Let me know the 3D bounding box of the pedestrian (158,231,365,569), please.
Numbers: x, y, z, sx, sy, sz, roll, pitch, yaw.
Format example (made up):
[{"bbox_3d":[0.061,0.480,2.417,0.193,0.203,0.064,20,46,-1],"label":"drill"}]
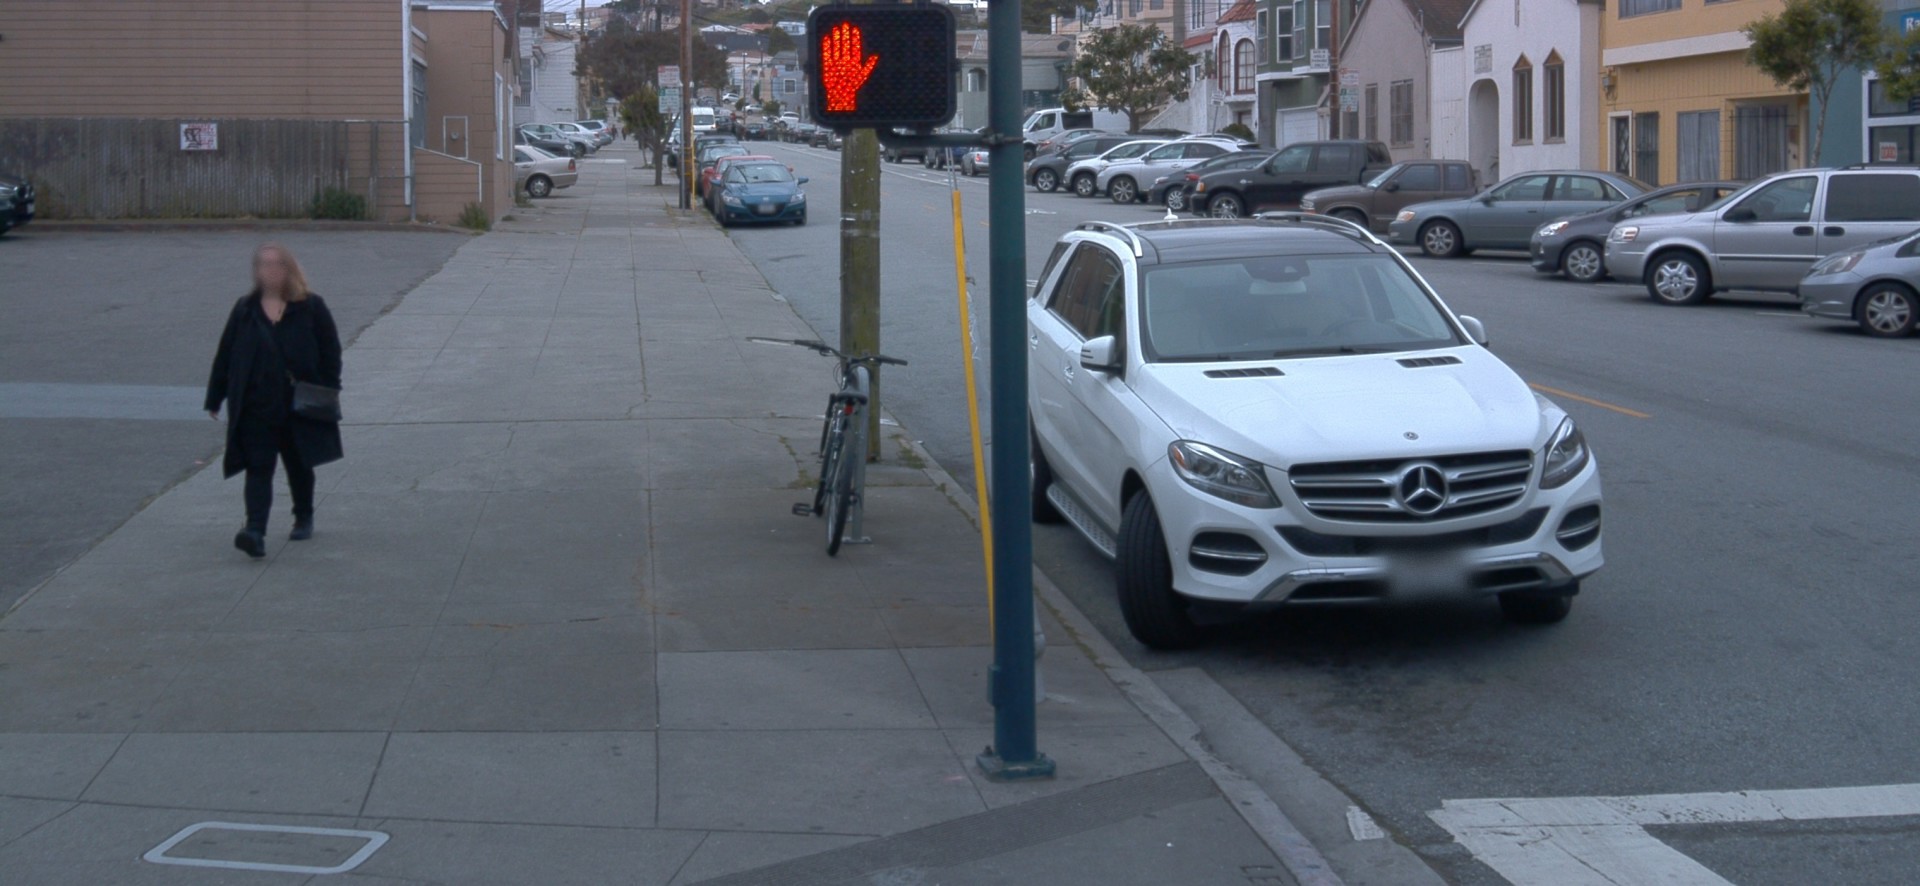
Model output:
[{"bbox_3d":[-3.587,-0.262,10.641,0.824,1.667,0.894,0,2,-6],"label":"pedestrian"}]

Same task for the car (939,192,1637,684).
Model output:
[{"bbox_3d":[1.331,-0.291,10.781,2.237,1.951,4.944,-1,5,-8],"label":"car"}]
